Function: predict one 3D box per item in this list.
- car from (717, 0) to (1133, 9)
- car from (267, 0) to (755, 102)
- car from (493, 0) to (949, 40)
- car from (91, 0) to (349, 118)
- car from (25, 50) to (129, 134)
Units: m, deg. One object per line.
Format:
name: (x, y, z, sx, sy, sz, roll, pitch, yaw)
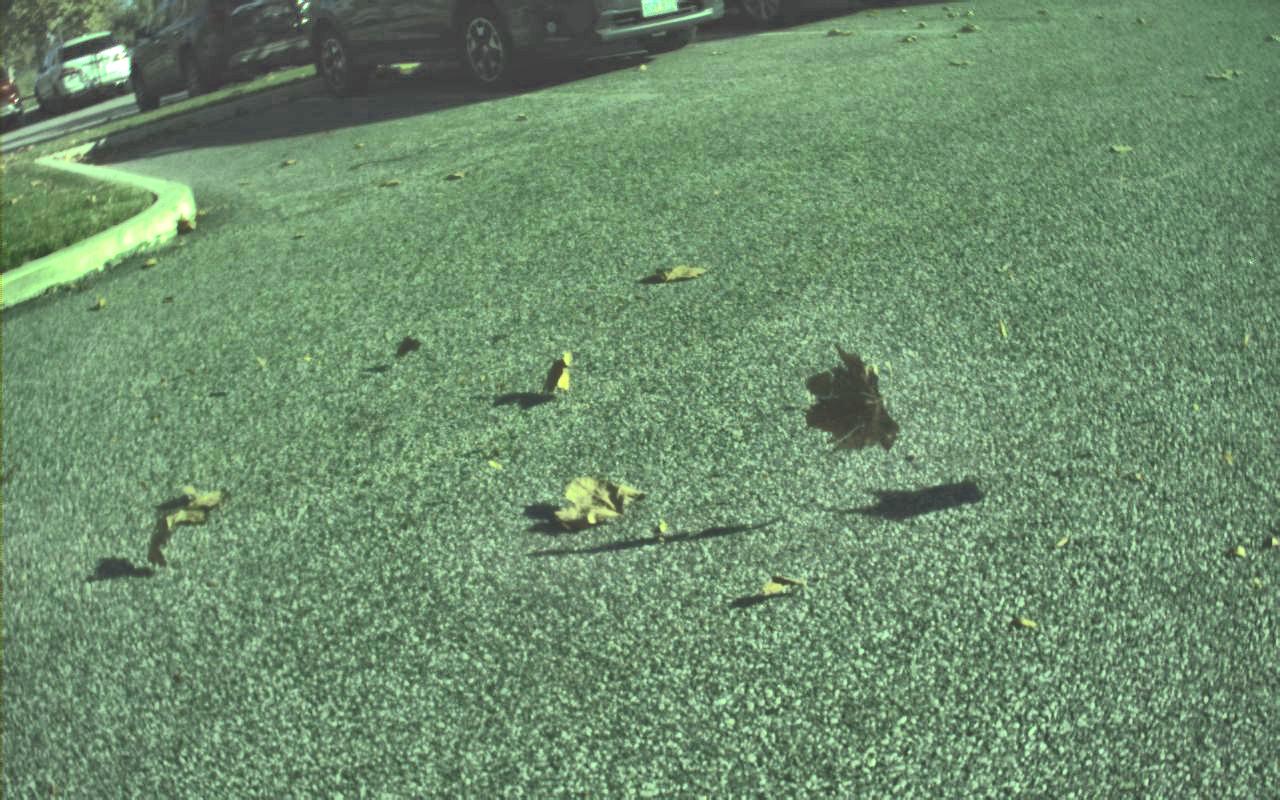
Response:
car: (2.925, -4.989, 12.572, 1.938, 1.497, 4.474, -11, 20, -31)
car: (-1.338, -3.272, 9.907, 1.941, 1.493, 4.490, -14, 21, -37)
car: (0.611, -4.188, 11.483, 1.913, 1.504, 4.331, -14, 21, -38)
car: (-6.096, -4.847, 16.285, 1.990, 1.643, 4.596, -16, 22, -42)
car: (-14.133, -7.575, 27.807, 2.037, 1.731, 4.688, -12, 20, -33)
